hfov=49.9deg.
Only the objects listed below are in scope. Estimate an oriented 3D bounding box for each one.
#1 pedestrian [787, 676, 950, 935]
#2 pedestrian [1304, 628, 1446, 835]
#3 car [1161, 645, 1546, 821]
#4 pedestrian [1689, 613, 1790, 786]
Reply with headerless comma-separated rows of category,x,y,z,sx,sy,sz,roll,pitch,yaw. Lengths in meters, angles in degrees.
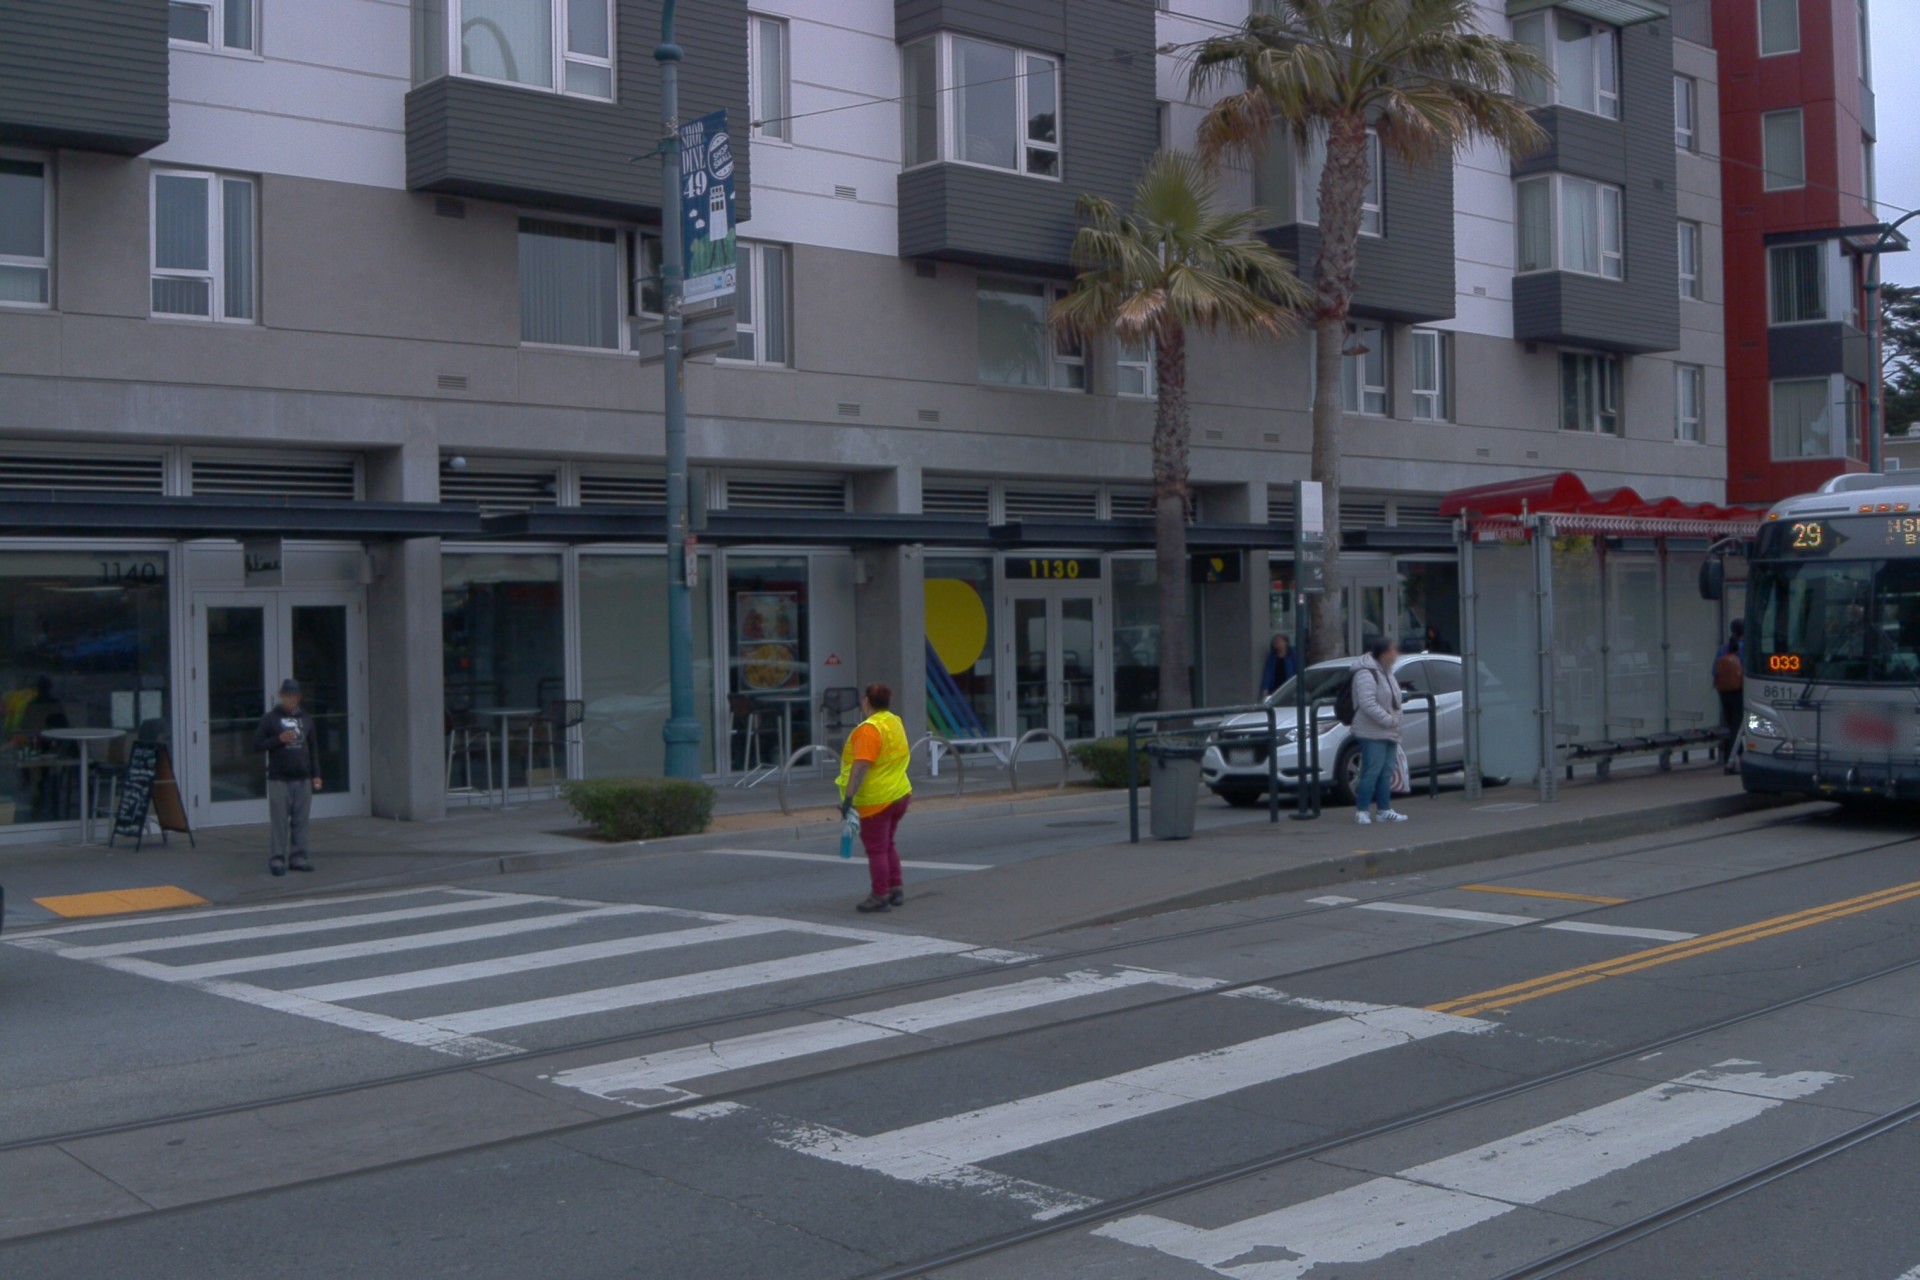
pedestrian,-0.638,1.123,14.399,0.901,1.700,0.698,-1,1,-34
pedestrian,3.582,0.759,17.785,0.856,1.700,0.979,1,1,36
car,4.433,0.937,22.901,4.272,1.680,2.039,-1,1,-42
pedestrian,7.960,0.590,21.089,0.679,1.720,0.689,0,1,-19
